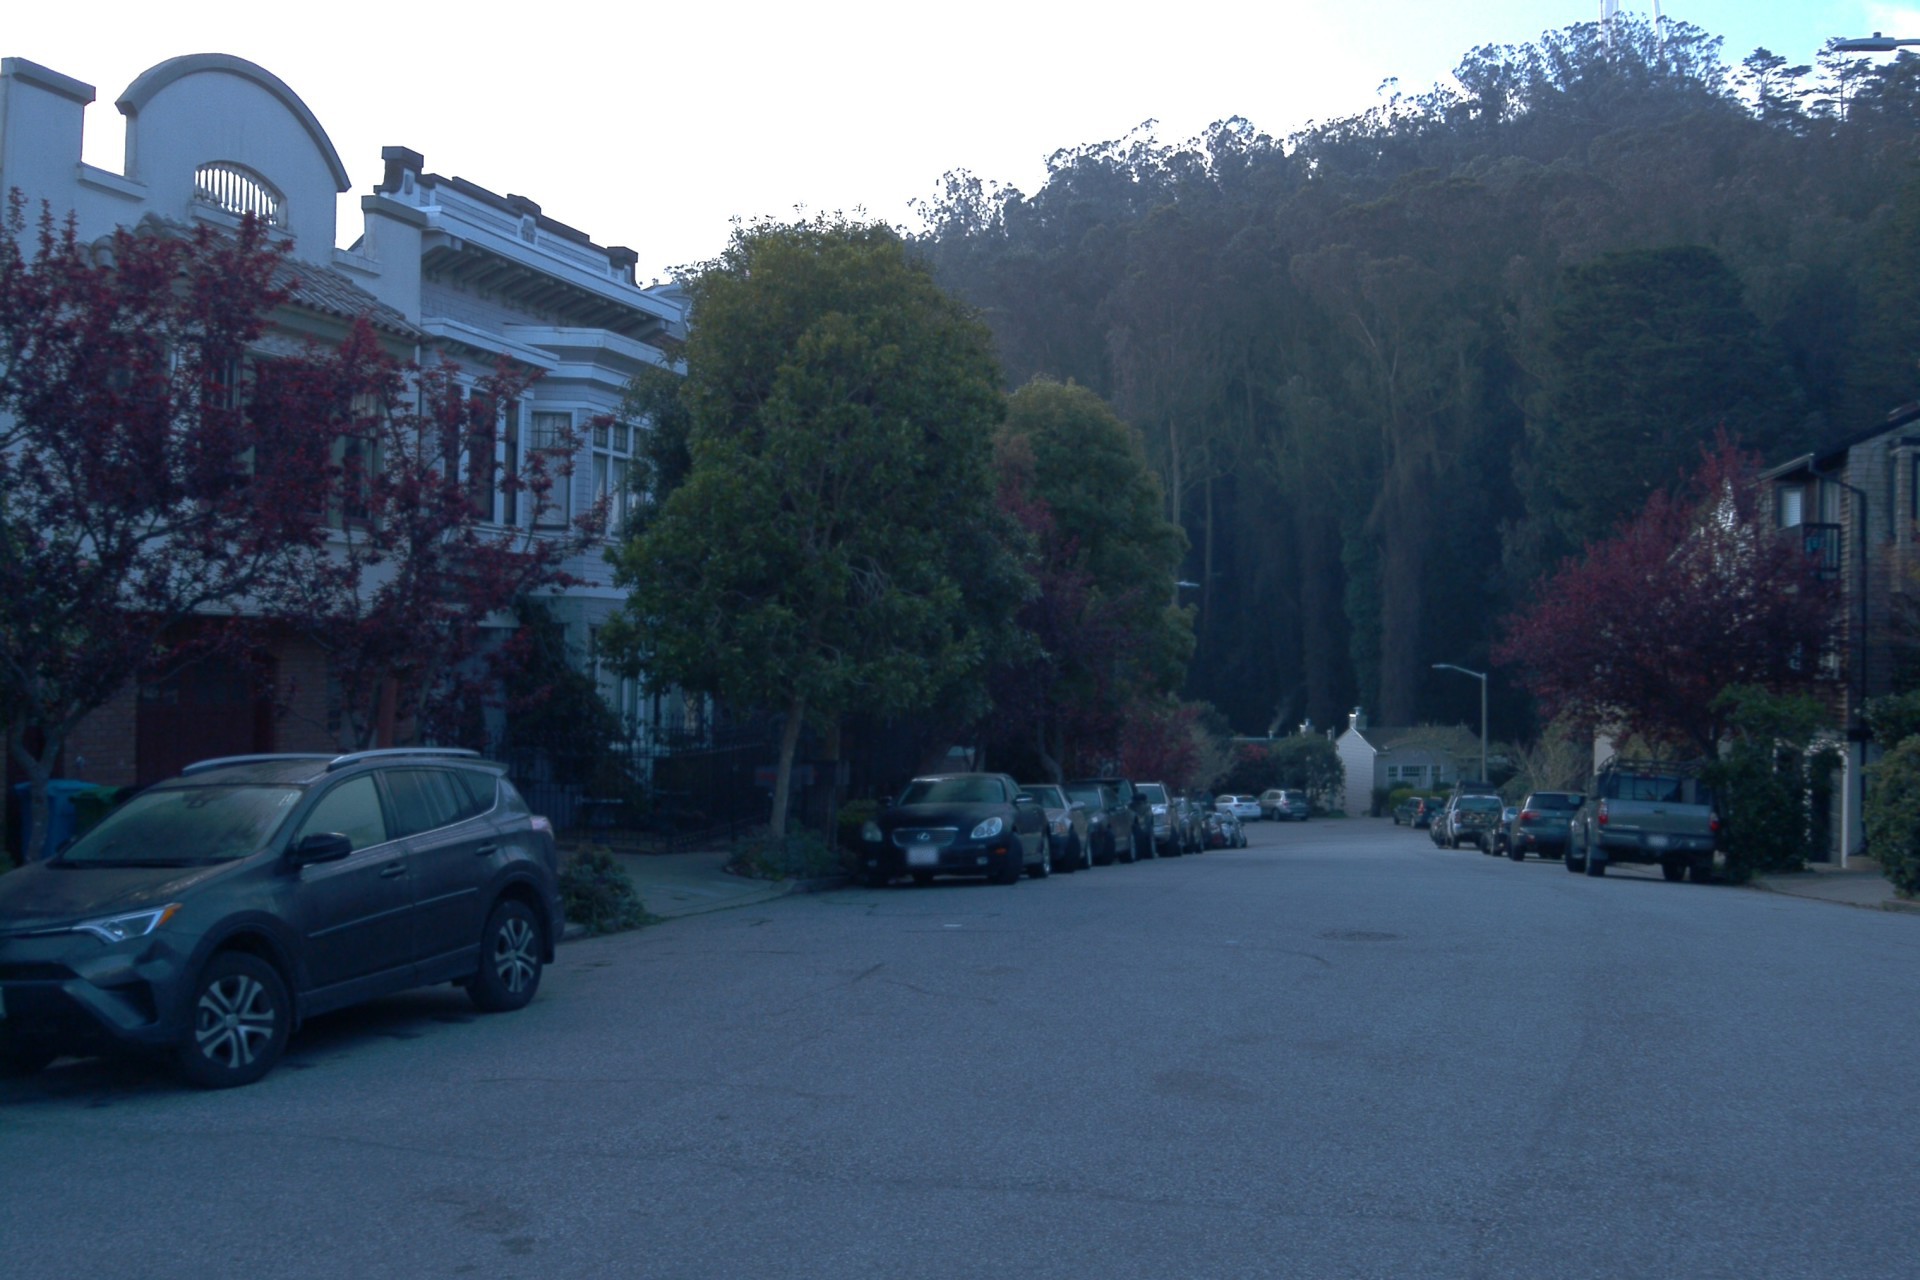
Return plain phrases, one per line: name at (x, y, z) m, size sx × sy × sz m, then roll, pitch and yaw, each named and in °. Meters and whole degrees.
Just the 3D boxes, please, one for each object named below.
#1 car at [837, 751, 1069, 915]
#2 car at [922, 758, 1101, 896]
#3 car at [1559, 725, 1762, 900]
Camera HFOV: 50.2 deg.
car at (0.024, 2.248, 24.917) m, size 1.999 × 1.492 × 4.437 m, roll 0°, pitch 1°, yaw 11°
car at (0.841, 2.658, 29.971) m, size 2.019 × 1.524 × 4.383 m, roll 0°, pitch 1°, yaw 9°
car at (11.647, 2.781, 34.520) m, size 2.536 × 2.360 × 5.553 m, roll 0°, pitch 1°, yaw 12°
